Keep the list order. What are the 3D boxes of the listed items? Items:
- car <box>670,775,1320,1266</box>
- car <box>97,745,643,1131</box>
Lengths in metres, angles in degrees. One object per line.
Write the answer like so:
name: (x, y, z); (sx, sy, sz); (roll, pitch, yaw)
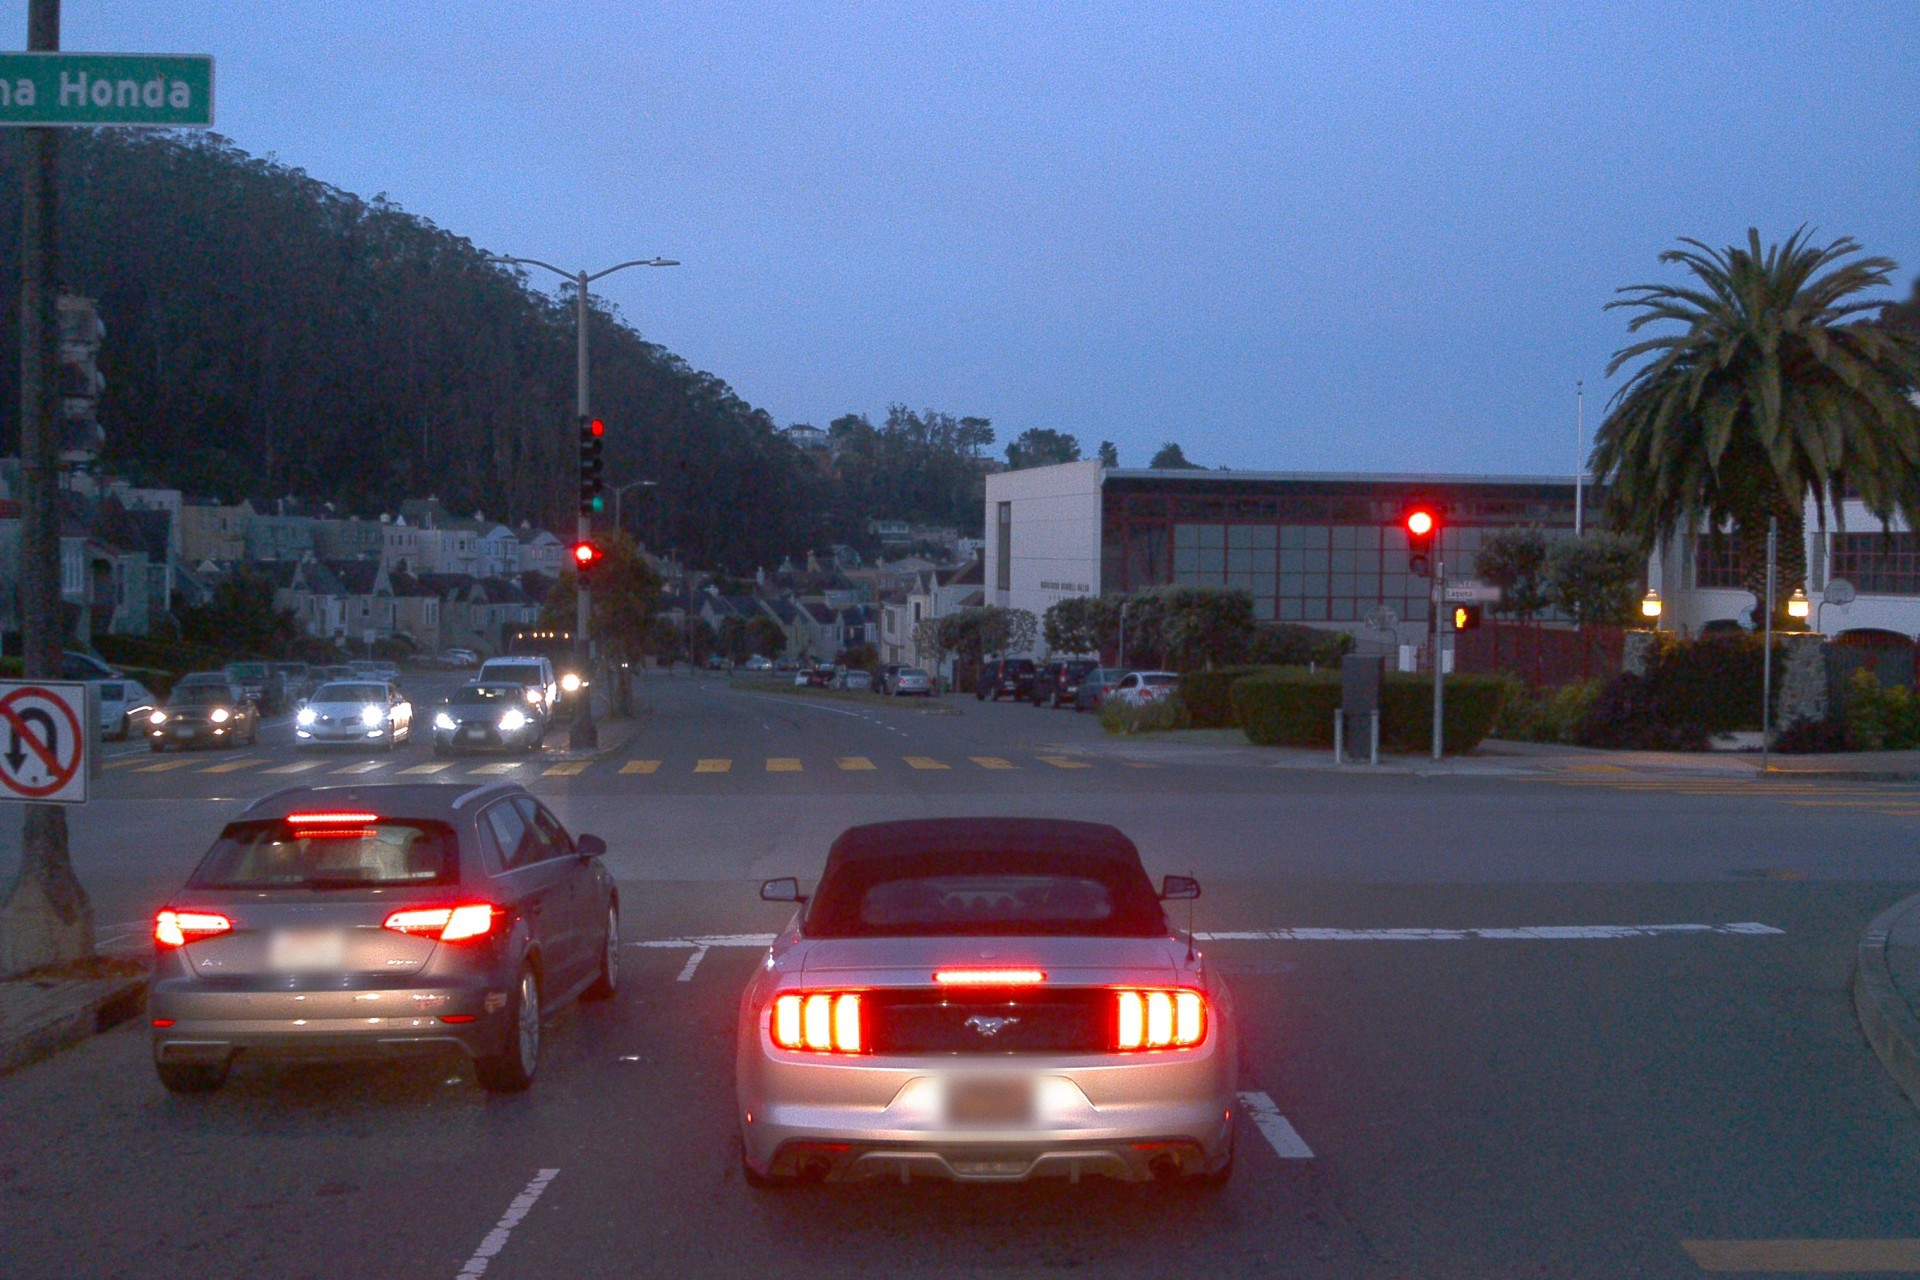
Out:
car: (0.099, 1.417, 9.110); (2.174, 1.380, 4.355); (0, 0, 0)
car: (-2.886, 1.404, 11.058); (1.782, 1.510, 3.987); (0, 0, 0)
